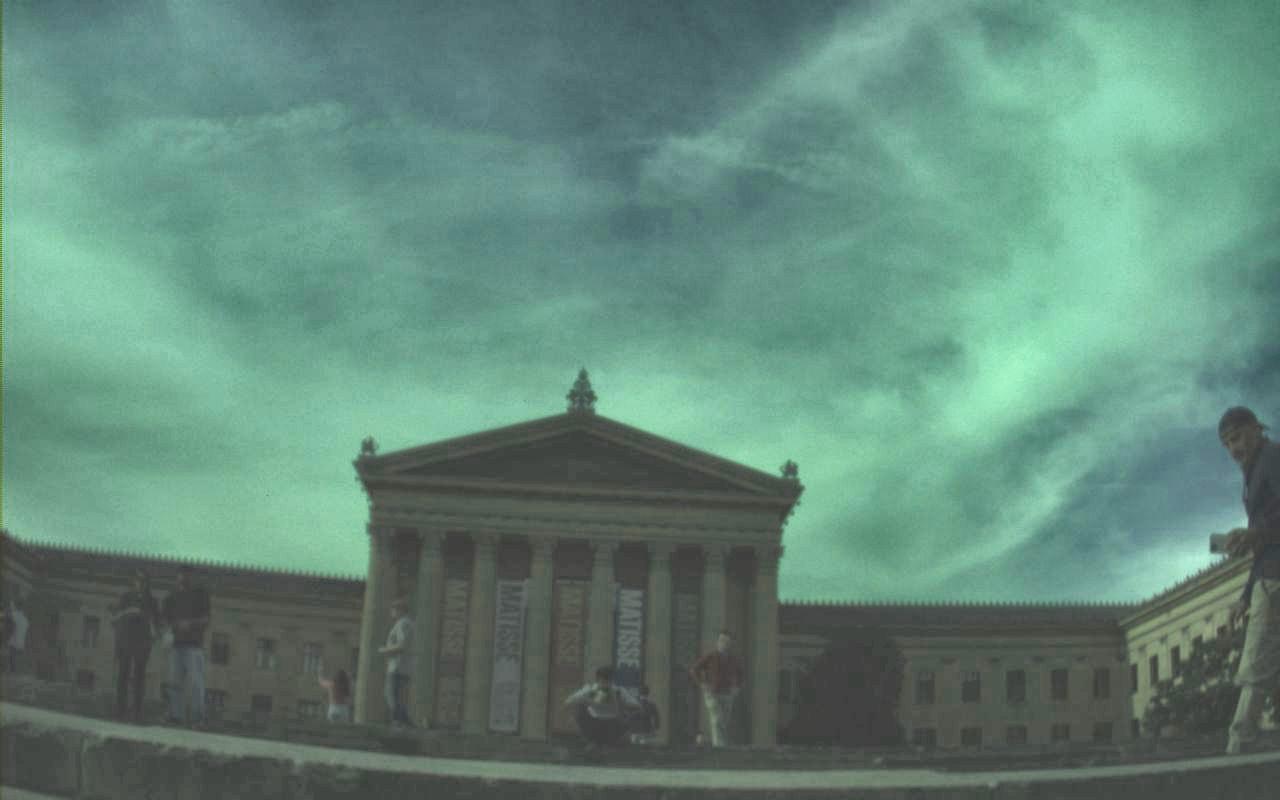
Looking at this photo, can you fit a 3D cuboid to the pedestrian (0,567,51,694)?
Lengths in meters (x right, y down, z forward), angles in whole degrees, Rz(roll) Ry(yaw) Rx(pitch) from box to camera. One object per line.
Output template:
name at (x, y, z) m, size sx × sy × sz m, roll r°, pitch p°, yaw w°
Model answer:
pedestrian at (-9.949, 3.695, 17.295) m, size 0.835 × 1.845 × 0.825 m, roll 1°, pitch 0°, yaw 29°

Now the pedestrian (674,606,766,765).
pedestrian at (1.001, 3.627, 15.654) m, size 0.818 × 1.839 × 0.827 m, roll 0°, pitch 0°, yaw -32°

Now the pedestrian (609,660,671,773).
pedestrian at (-0.005, 5.497, 21.218) m, size 0.776 × 1.795 × 0.794 m, roll 1°, pitch 0°, yaw 29°

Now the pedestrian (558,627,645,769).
pedestrian at (-0.408, 3.040, 12.509) m, size 0.832 × 1.331 × 0.732 m, roll 0°, pitch 0°, yaw -5°

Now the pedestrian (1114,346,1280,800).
pedestrian at (2.492, 0.699, 4.546) m, size 0.811 × 1.783 × 0.782 m, roll 0°, pitch 0°, yaw -7°

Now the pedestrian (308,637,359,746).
pedestrian at (-5.303, 5.068, 20.675) m, size 0.704 × 1.792 × 0.702 m, roll 0°, pitch 0°, yaw -4°

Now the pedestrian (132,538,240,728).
pedestrian at (-4.656, 2.395, 11.923) m, size 0.788 × 1.799 × 0.790 m, roll 0°, pitch 0°, yaw 5°

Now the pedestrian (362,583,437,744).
pedestrian at (-2.983, 3.259, 14.981) m, size 0.797 × 1.877 × 0.784 m, roll 0°, pitch 0°, yaw -17°
